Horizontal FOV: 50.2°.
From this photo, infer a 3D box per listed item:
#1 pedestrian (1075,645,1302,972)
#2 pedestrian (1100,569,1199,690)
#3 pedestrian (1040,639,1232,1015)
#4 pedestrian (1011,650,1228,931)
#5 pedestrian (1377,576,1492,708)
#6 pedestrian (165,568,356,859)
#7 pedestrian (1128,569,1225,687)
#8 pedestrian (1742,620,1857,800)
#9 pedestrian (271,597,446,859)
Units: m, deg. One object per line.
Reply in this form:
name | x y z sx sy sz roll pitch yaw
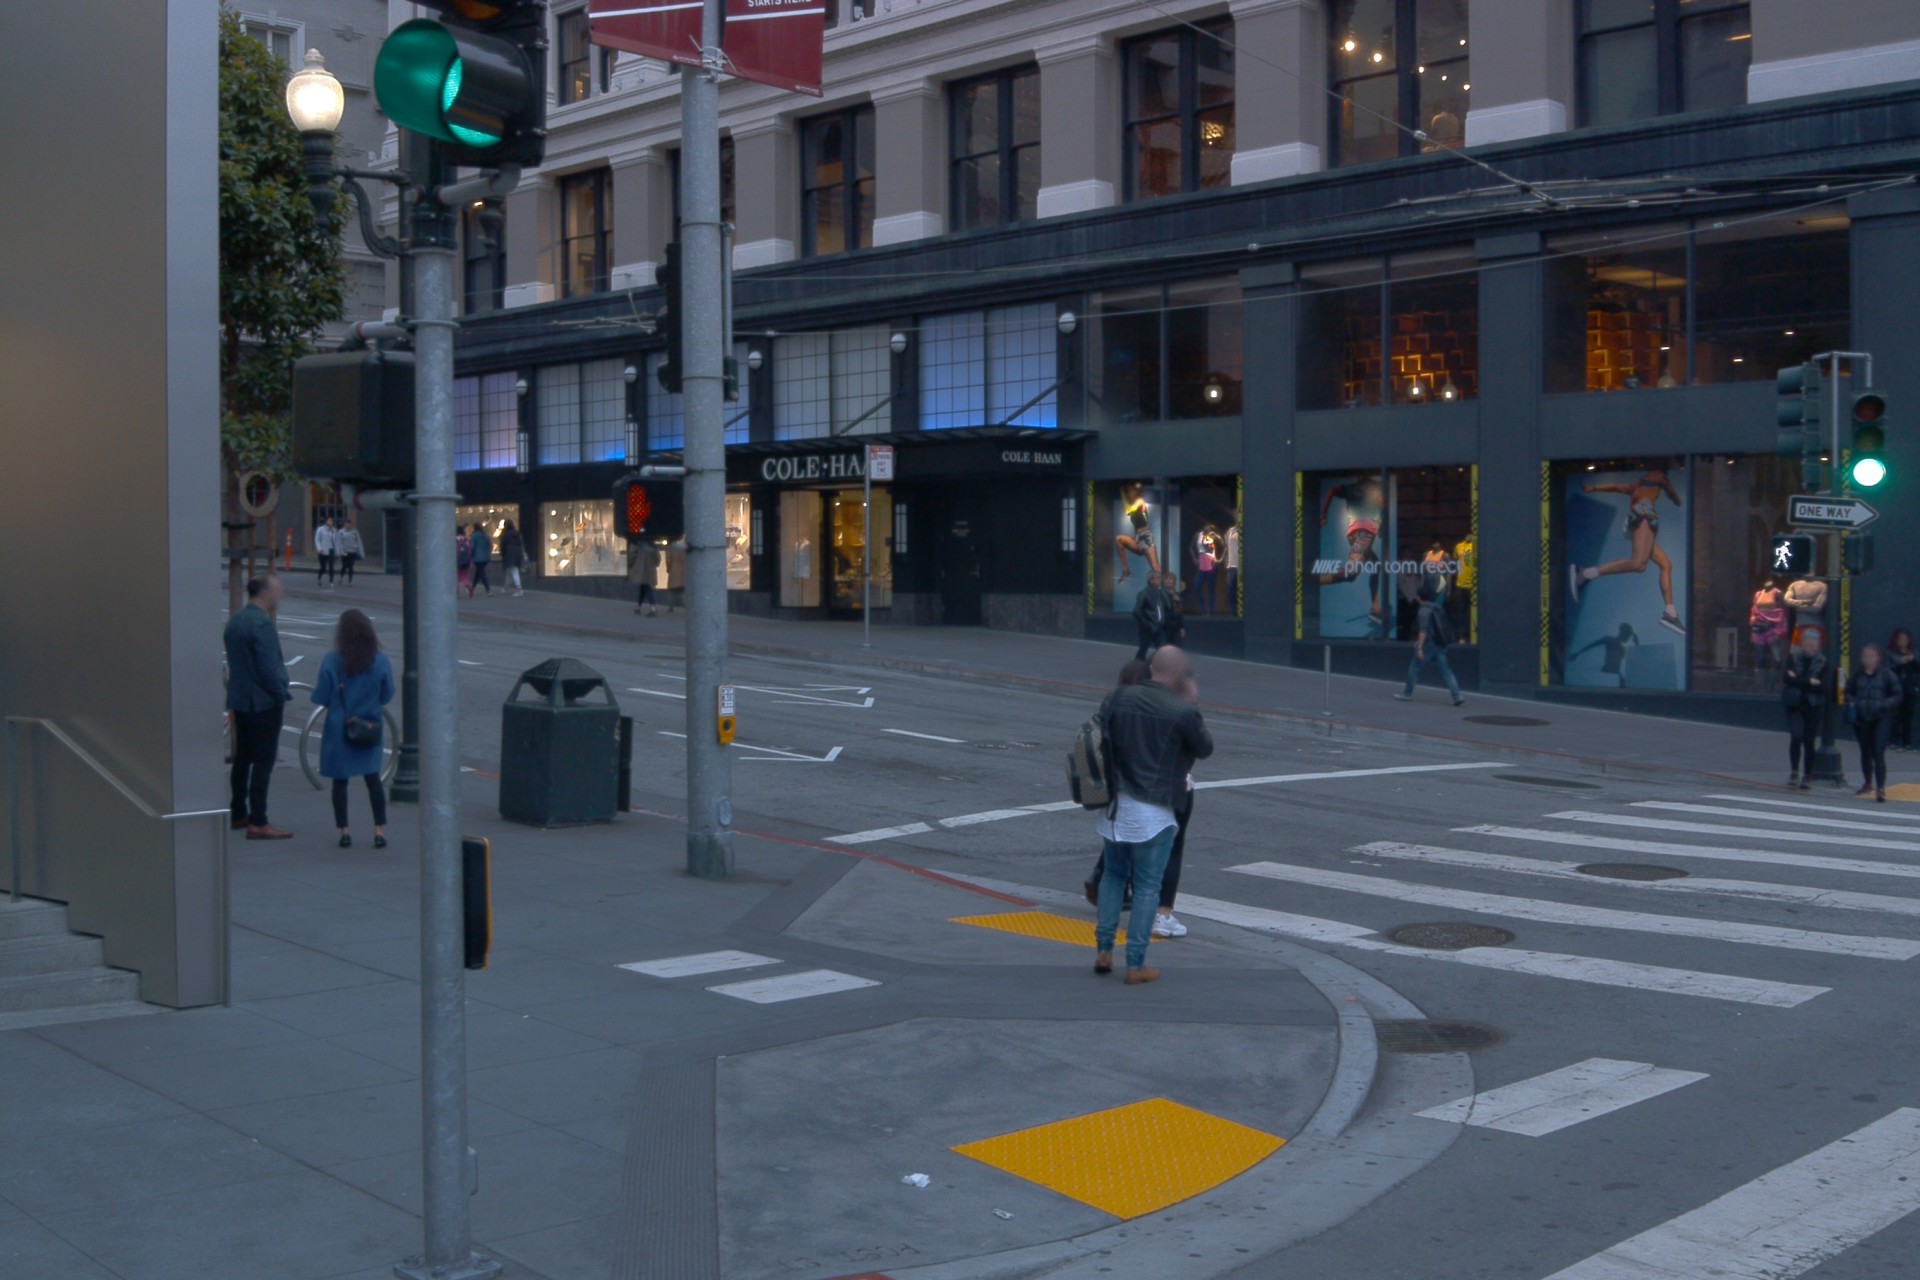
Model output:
pedestrian | 1.401 0.984 12.602 1.113 1.890 0.813 0 1 -32
pedestrian | 2.660 -0.156 28.734 1.047 1.650 0.891 1 1 45
pedestrian | 0.893 0.913 10.590 0.928 1.820 1.126 0 1 3
pedestrian | 1.025 0.931 13.305 1.002 1.710 0.998 0 1 -31
pedestrian | 6.439 0.017 27.815 1.121 1.750 1.078 1 1 43
pedestrian | -4.944 0.483 14.475 0.939 1.960 0.981 -1 1 -45
pedestrian | 3.095 -0.176 29.308 1.047 1.650 0.891 1 1 45
pedestrian | 8.721 0.692 21.269 0.896 1.800 1.088 1 1 33
pedestrian | -4.201 0.582 14.298 0.951 1.750 0.801 0 1 -37
